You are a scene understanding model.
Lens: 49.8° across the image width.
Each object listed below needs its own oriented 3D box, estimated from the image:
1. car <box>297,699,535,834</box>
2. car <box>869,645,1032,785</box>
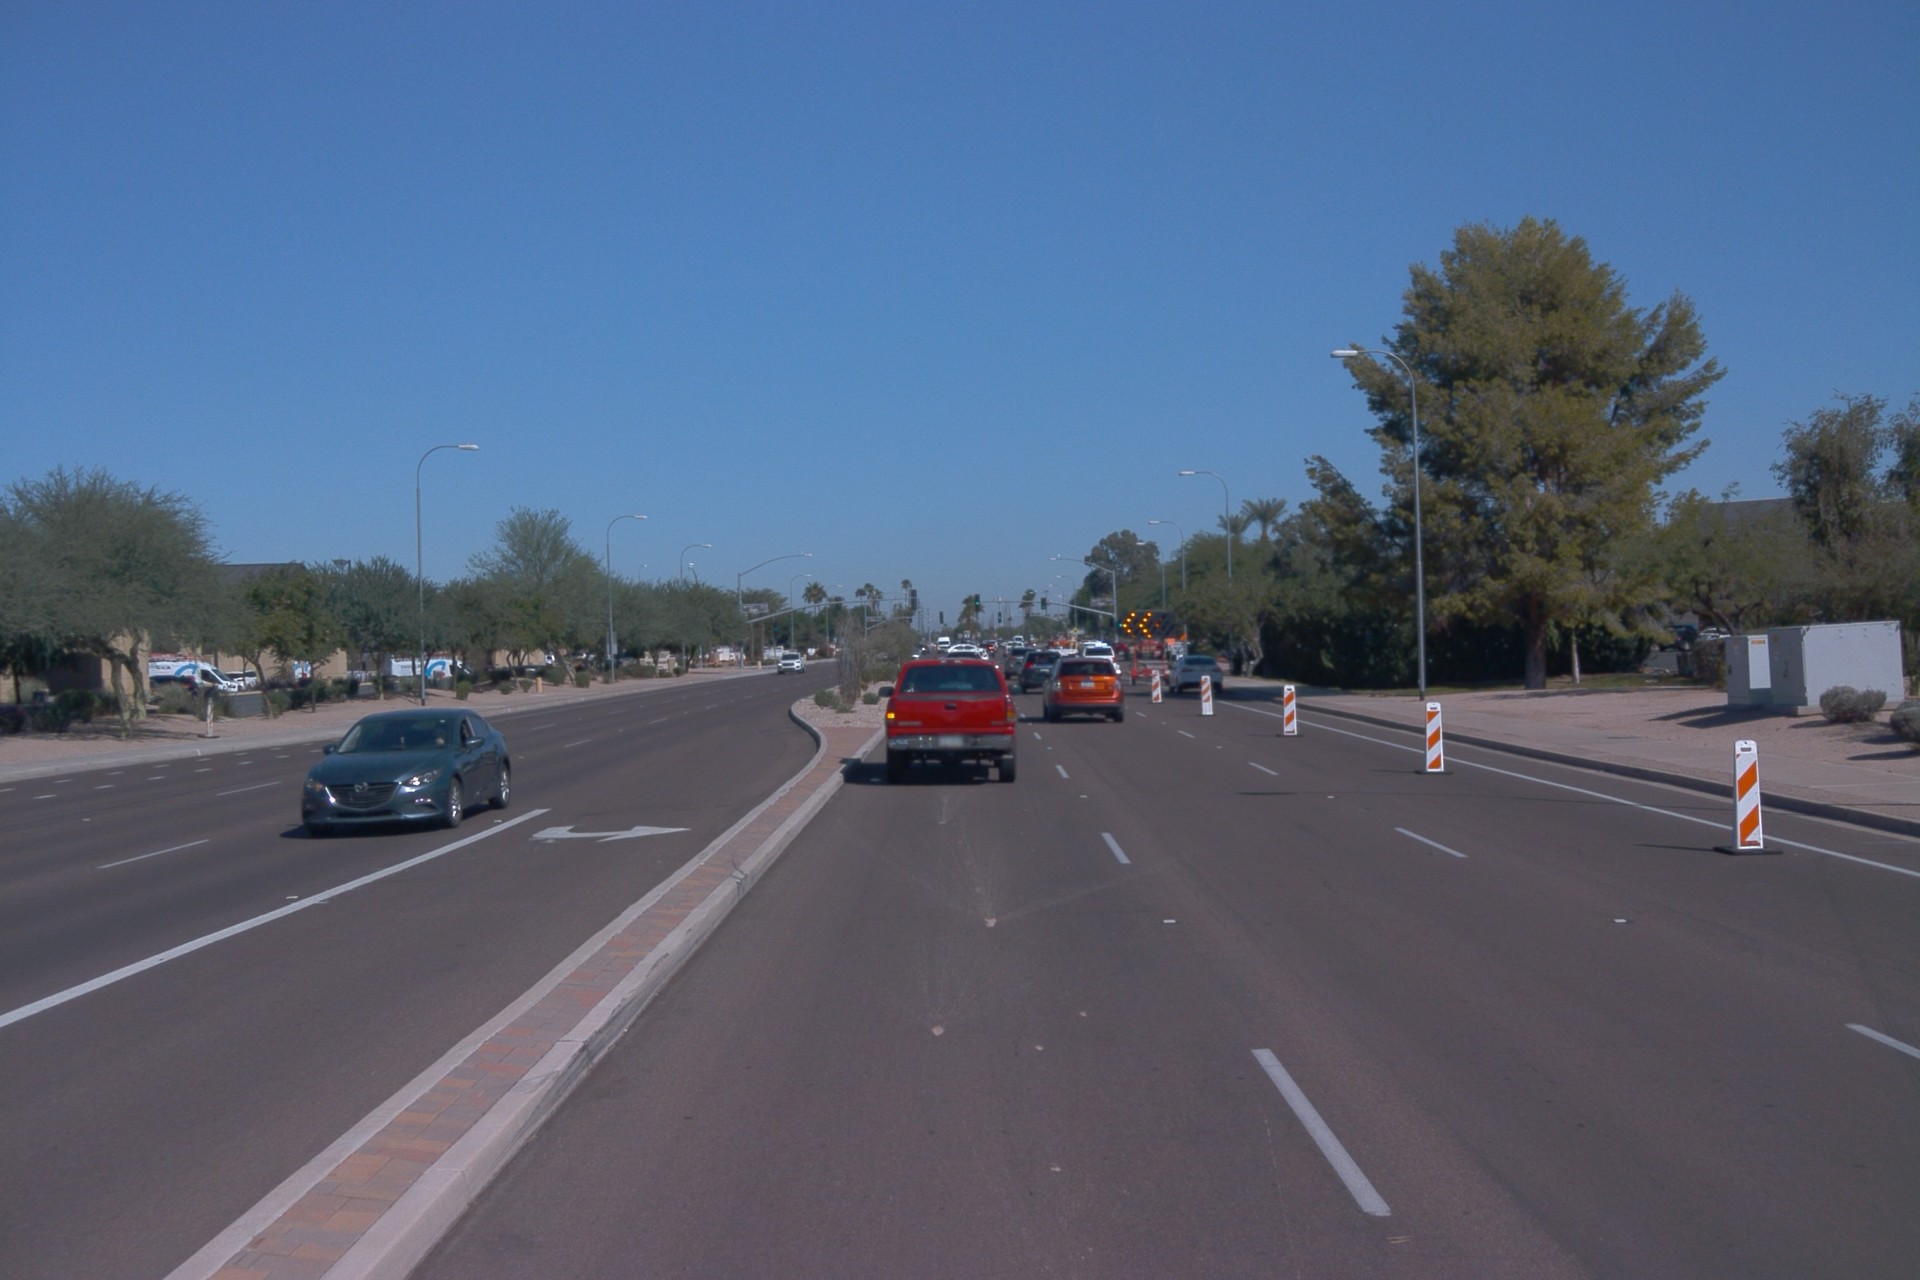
[{"bbox_3d":[-7.061,1.597,27.363,2.006,1.520,4.369,0,0,0],"label":"car"},{"bbox_3d":[-0.127,1.086,32.658,2.340,2.010,5.847,0,0,0],"label":"car"}]
